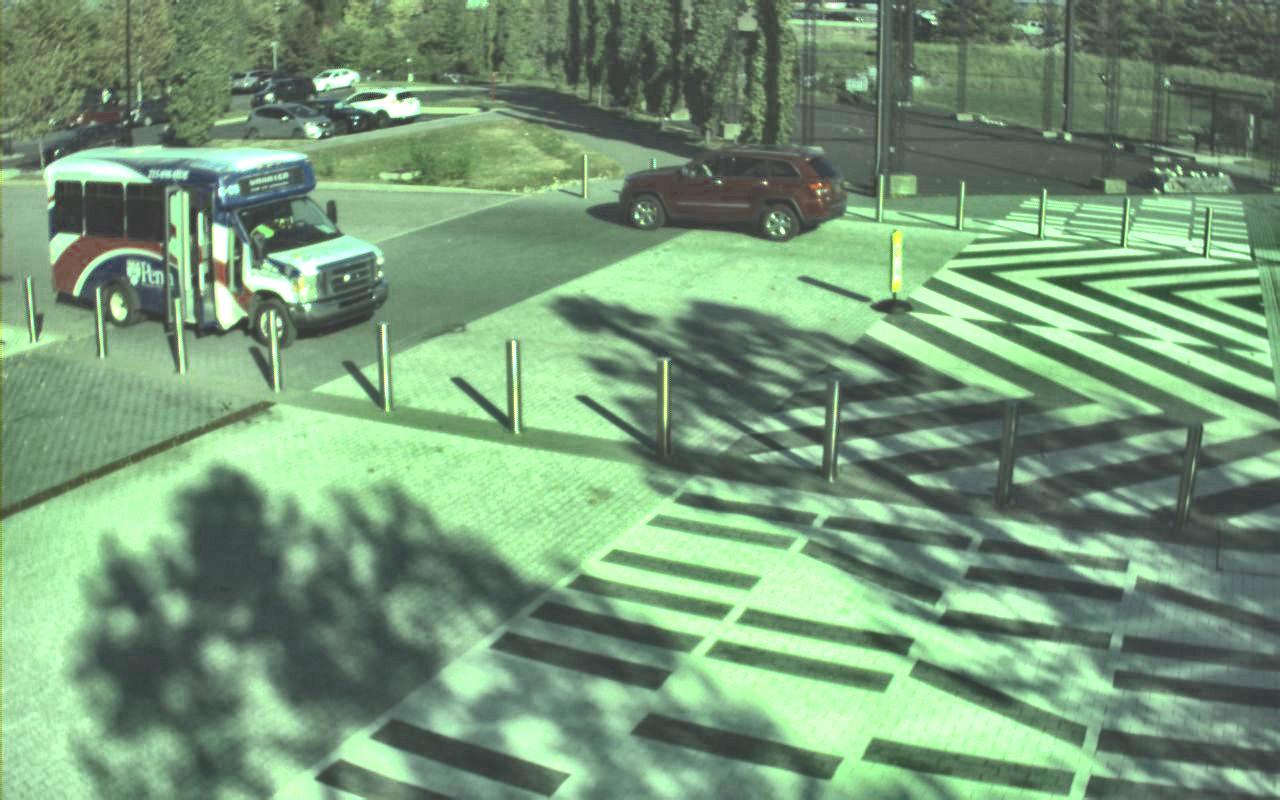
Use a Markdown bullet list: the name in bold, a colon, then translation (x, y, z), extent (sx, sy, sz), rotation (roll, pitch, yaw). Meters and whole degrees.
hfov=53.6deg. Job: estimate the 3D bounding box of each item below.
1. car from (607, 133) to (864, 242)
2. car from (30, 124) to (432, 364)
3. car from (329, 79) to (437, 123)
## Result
- **car**: translation (1.989, -4.464, 25.811), extent (4.884, 1.799, 2.068), rotation (7, 18, 25)
- **car**: translation (-6.854, -2.695, 19.043), extent (6.898, 3.003, 2.664), rotation (8, 18, 28)
- **car**: translation (-11.067, -12.724, 52.070), extent (4.582, 1.699, 1.997), rotation (10, 19, 32)
